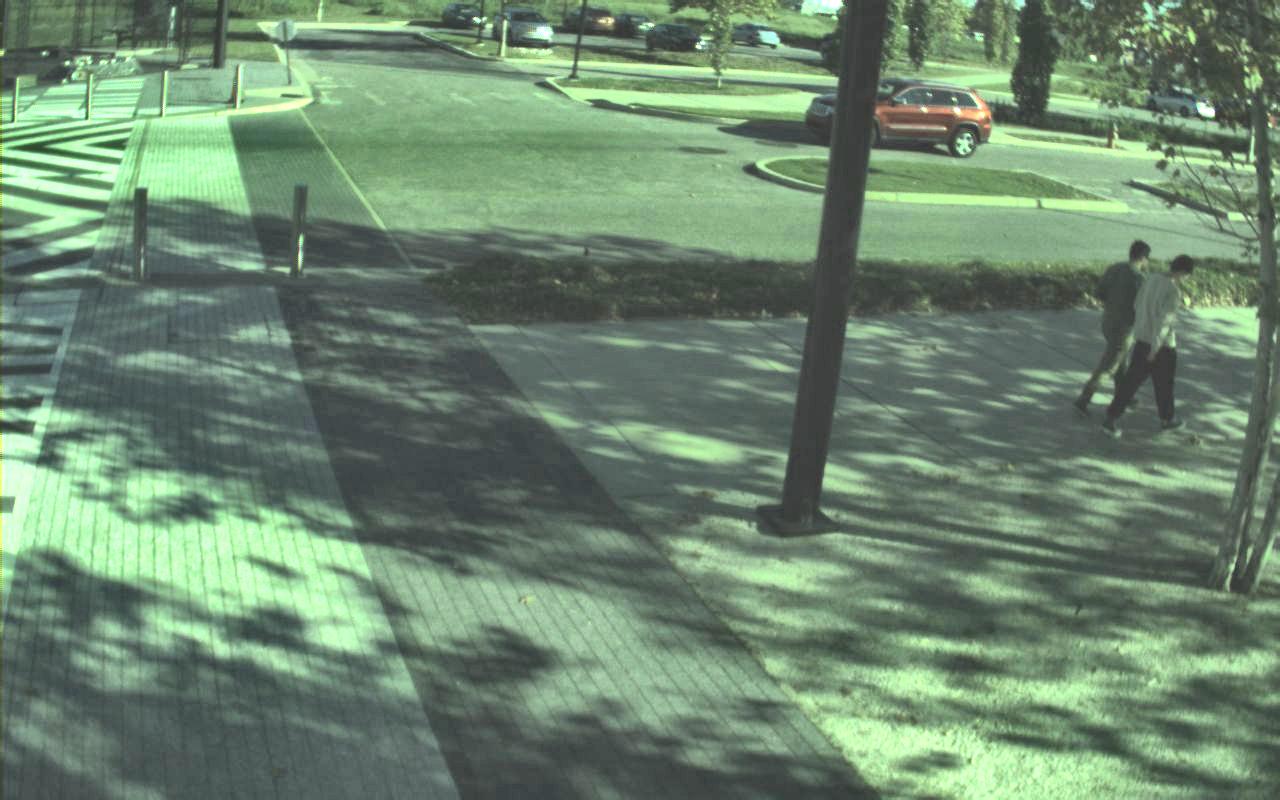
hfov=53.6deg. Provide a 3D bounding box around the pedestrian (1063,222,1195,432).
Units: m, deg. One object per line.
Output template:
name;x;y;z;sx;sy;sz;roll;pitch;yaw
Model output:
pedestrian;4.462;-0.675;10.819;0.859;1.728;0.800;-5;16;-13

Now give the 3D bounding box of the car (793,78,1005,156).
car;6.316;-6.887;29.641;4.842;1.691;2.042;-6;17;-16
